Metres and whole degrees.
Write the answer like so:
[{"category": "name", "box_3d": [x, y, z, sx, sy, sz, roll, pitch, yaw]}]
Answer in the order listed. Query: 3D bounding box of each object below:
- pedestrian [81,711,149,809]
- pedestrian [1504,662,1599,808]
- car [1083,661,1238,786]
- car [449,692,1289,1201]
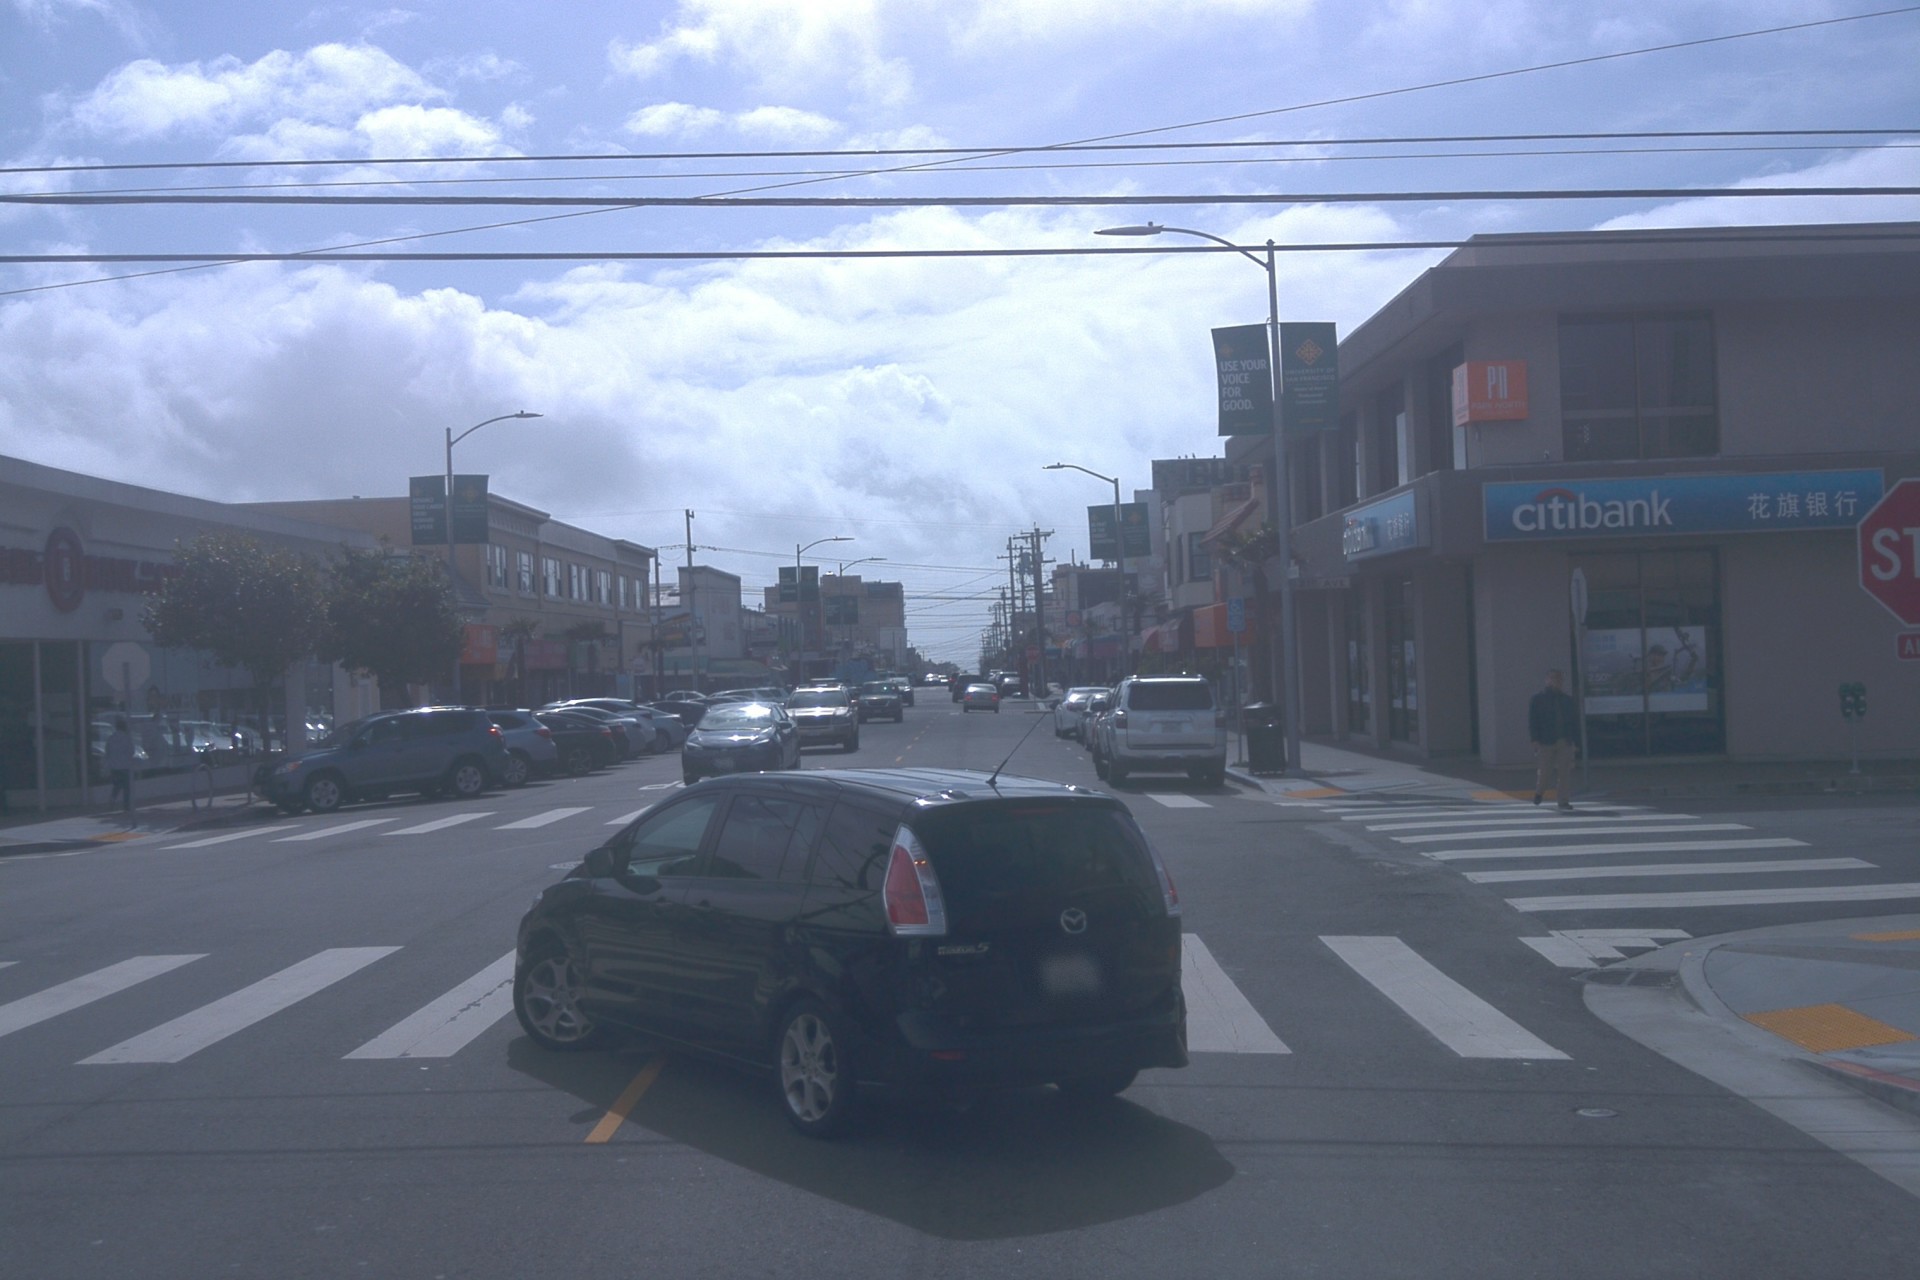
[{"category": "pedestrian", "box_3d": [-14.446, 2.043, 35.471, 0.791, 1.643, 0.931, 0, -1, -2]}, {"category": "pedestrian", "box_3d": [7.168, 1.139, 25.170, 0.849, 1.734, 0.948, 0, -1, -2]}, {"category": "car", "box_3d": [3.318, 1.358, 35.159, 2.072, 1.977, 4.682, 0, -1, -1]}, {"category": "car", "box_3d": [-0.711, 1.277, 10.695, 2.100, 1.972, 4.563, 0, -1, -37]}]
